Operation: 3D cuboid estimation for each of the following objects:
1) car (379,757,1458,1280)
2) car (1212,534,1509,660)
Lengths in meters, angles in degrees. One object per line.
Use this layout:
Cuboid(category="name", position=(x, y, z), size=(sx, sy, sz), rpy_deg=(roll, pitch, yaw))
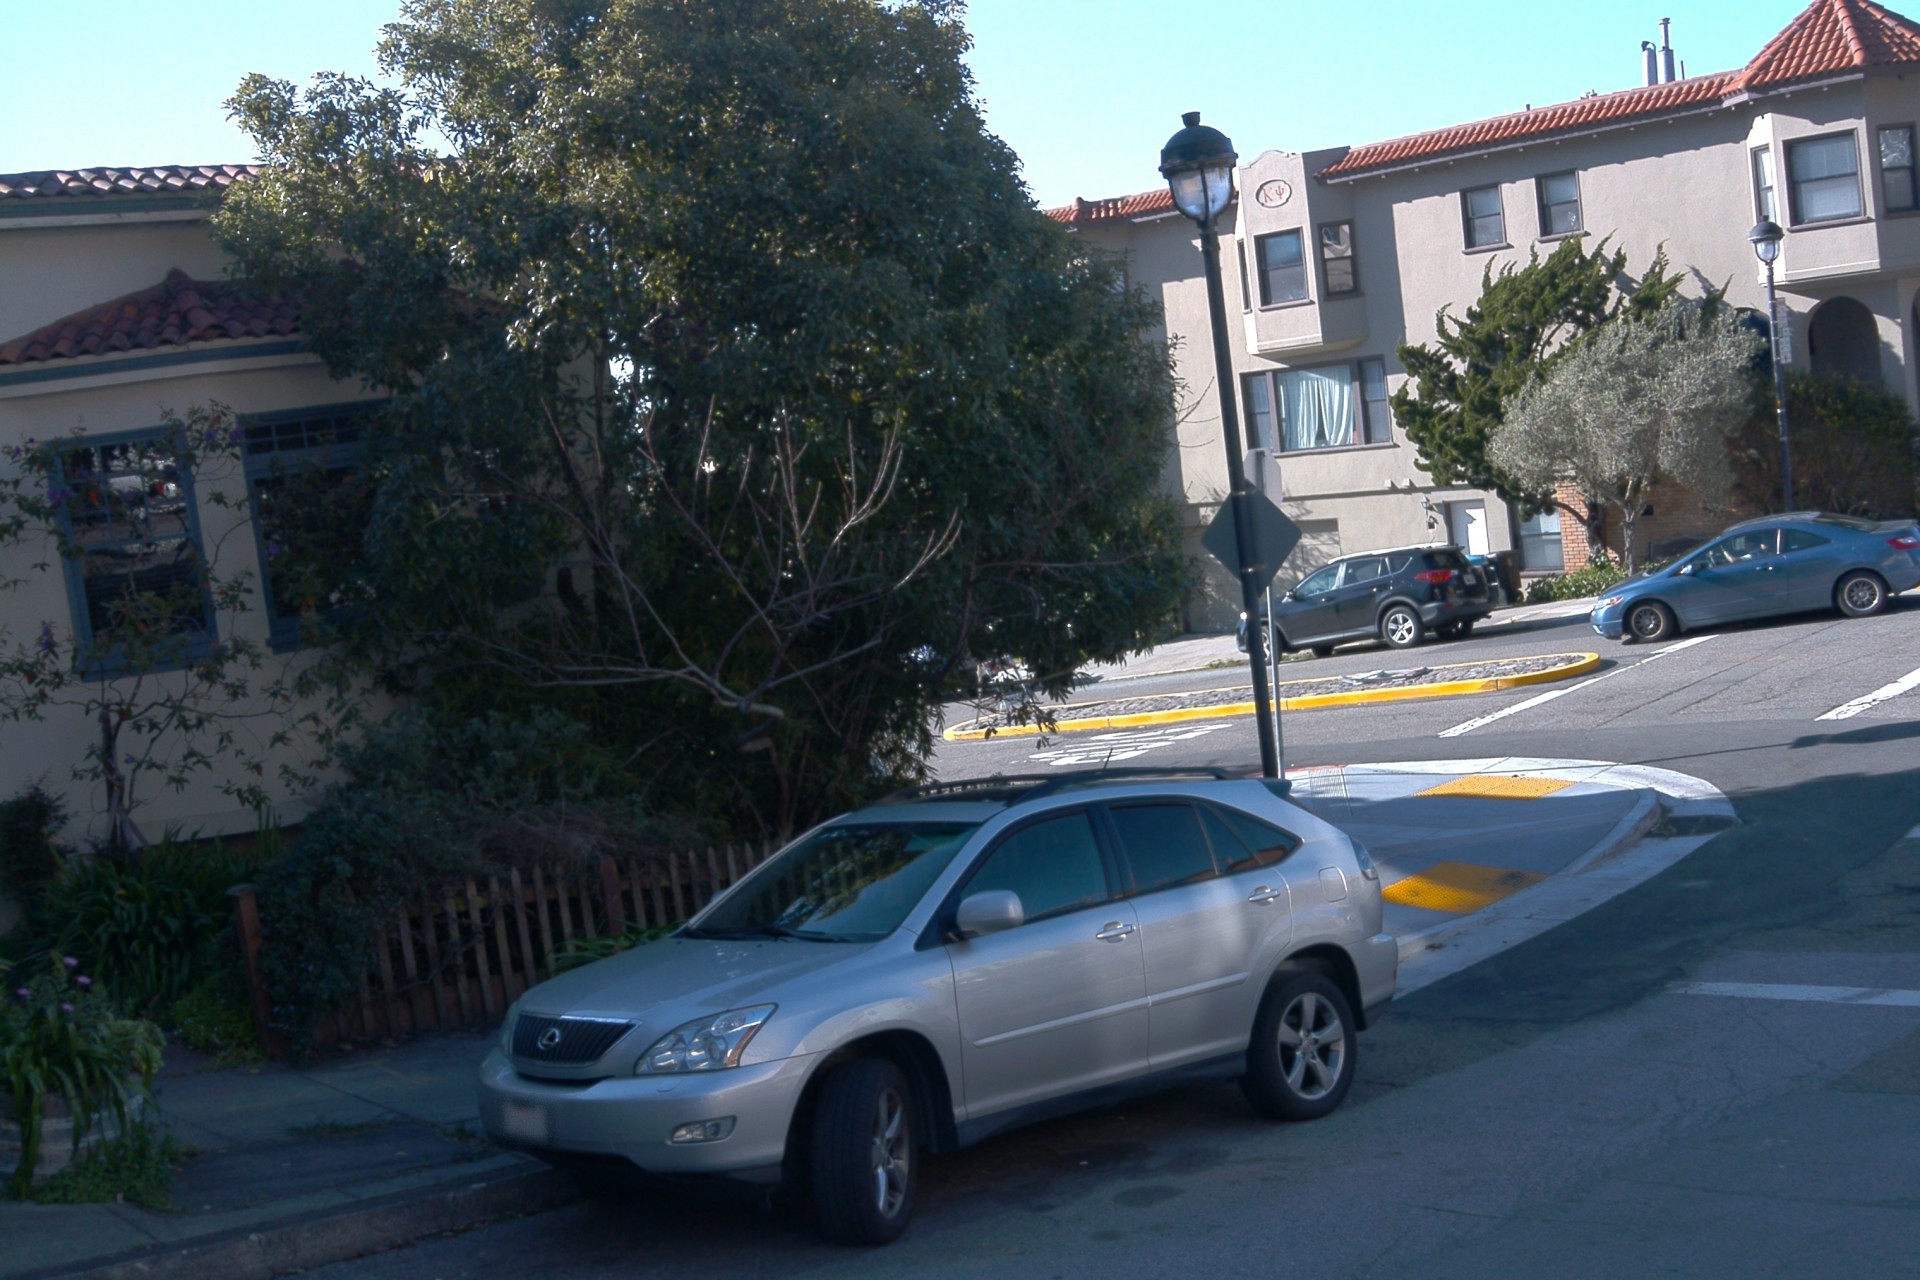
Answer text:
Cuboid(category="car", position=(0.018, 1.582, 9.412), size=(4.666, 1.810, 2.097), rpy_deg=(-1, 0, -42))
Cuboid(category="car", position=(6.798, -0.693, 35.528), size=(2.204, 2.020, 4.526), rpy_deg=(0, 0, -45))
